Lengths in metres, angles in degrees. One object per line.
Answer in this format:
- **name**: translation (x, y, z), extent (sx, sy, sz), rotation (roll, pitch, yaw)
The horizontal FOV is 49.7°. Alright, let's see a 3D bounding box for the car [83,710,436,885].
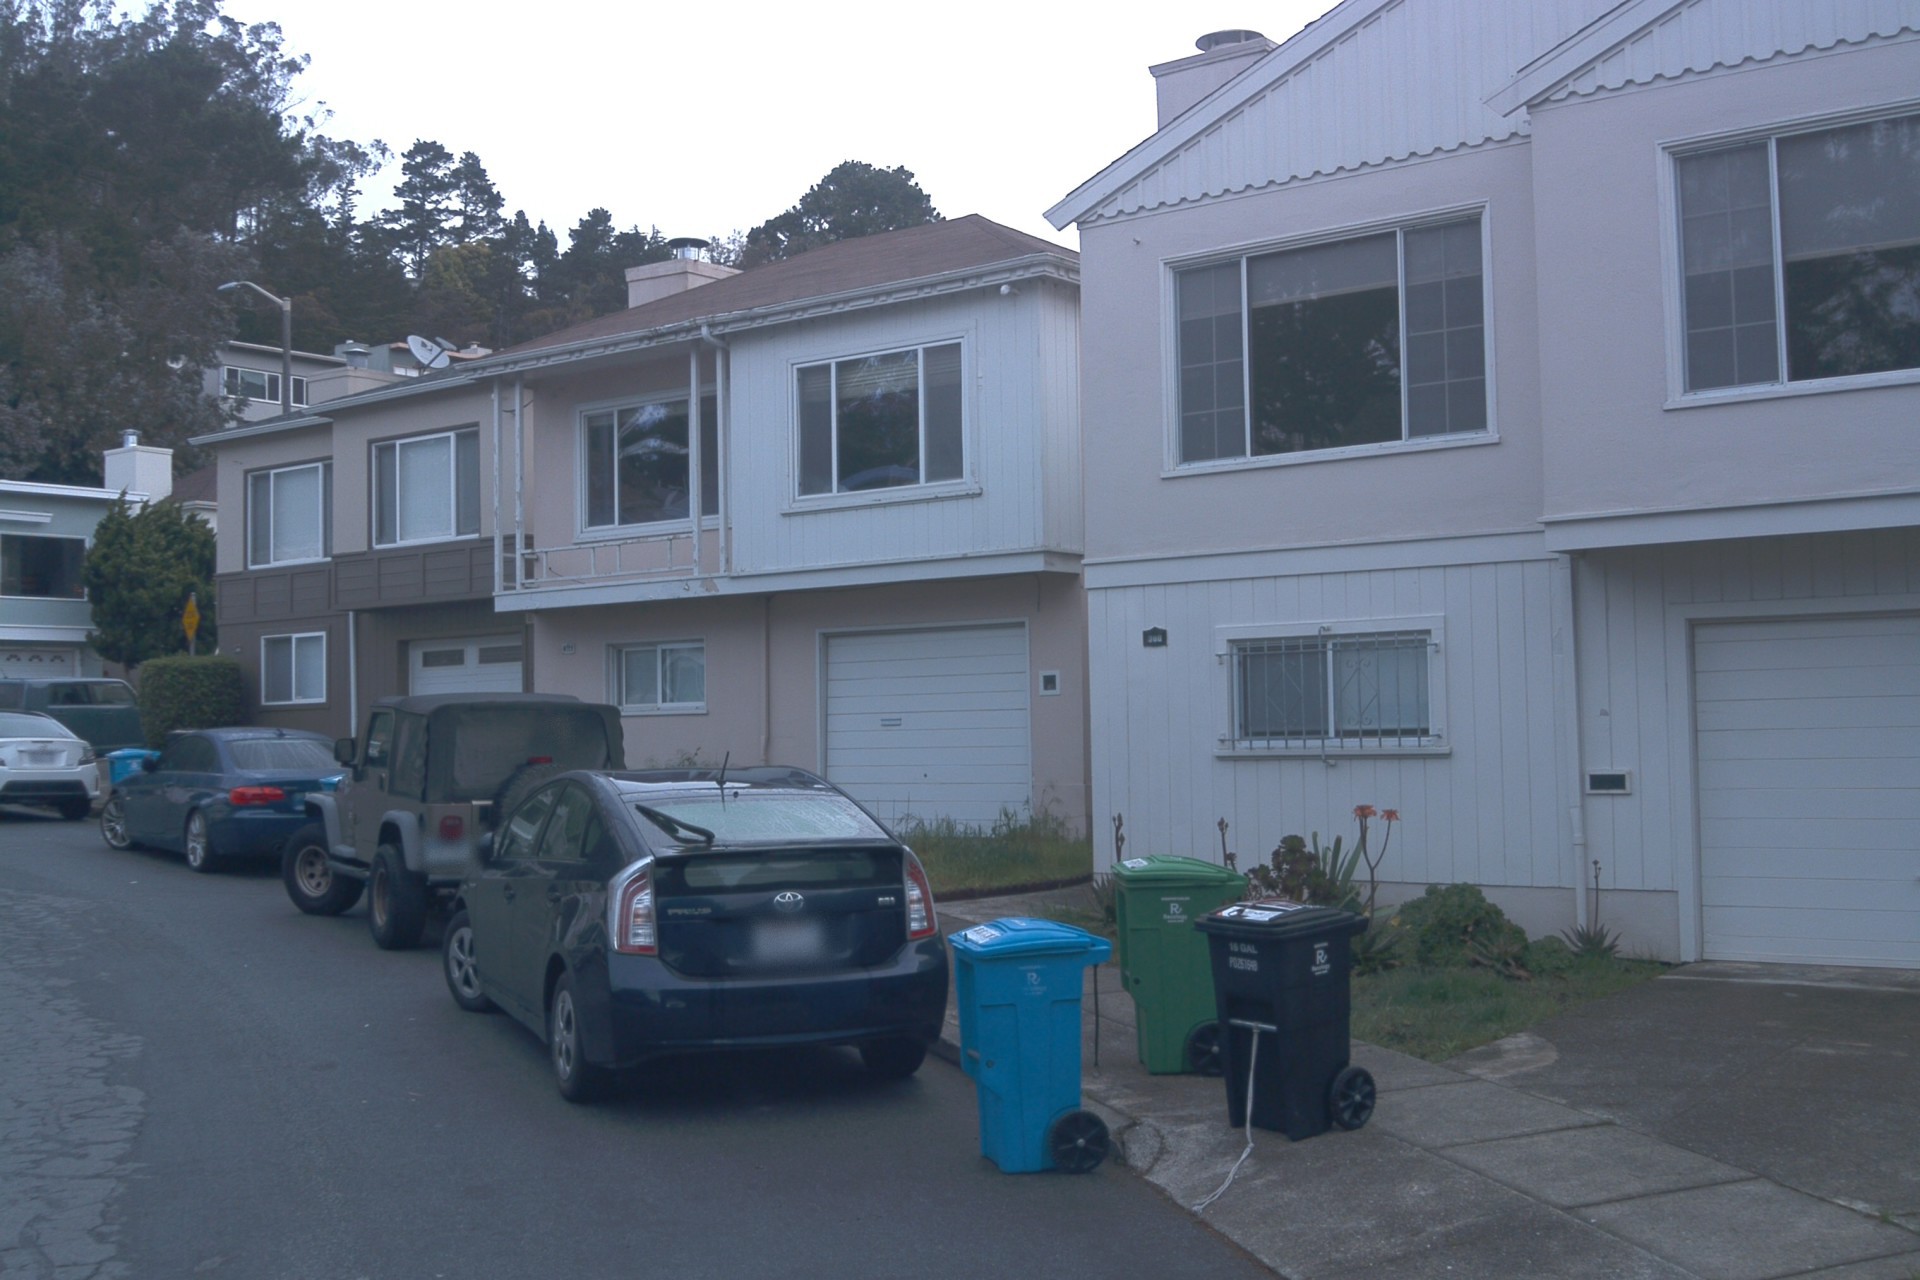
- **car**: translation (-7.306, 1.517, 21.304), extent (2.034, 1.450, 4.654), rotation (0, 0, -38)

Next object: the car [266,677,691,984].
- **car**: translation (-3.841, 1.300, 15.975), extent (2.123, 1.973, 4.026), rotation (0, 0, -30)

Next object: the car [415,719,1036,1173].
- **car**: translation (-1.506, 1.375, 11.131), extent (2.071, 1.739, 4.476), rotation (0, 0, -24)
